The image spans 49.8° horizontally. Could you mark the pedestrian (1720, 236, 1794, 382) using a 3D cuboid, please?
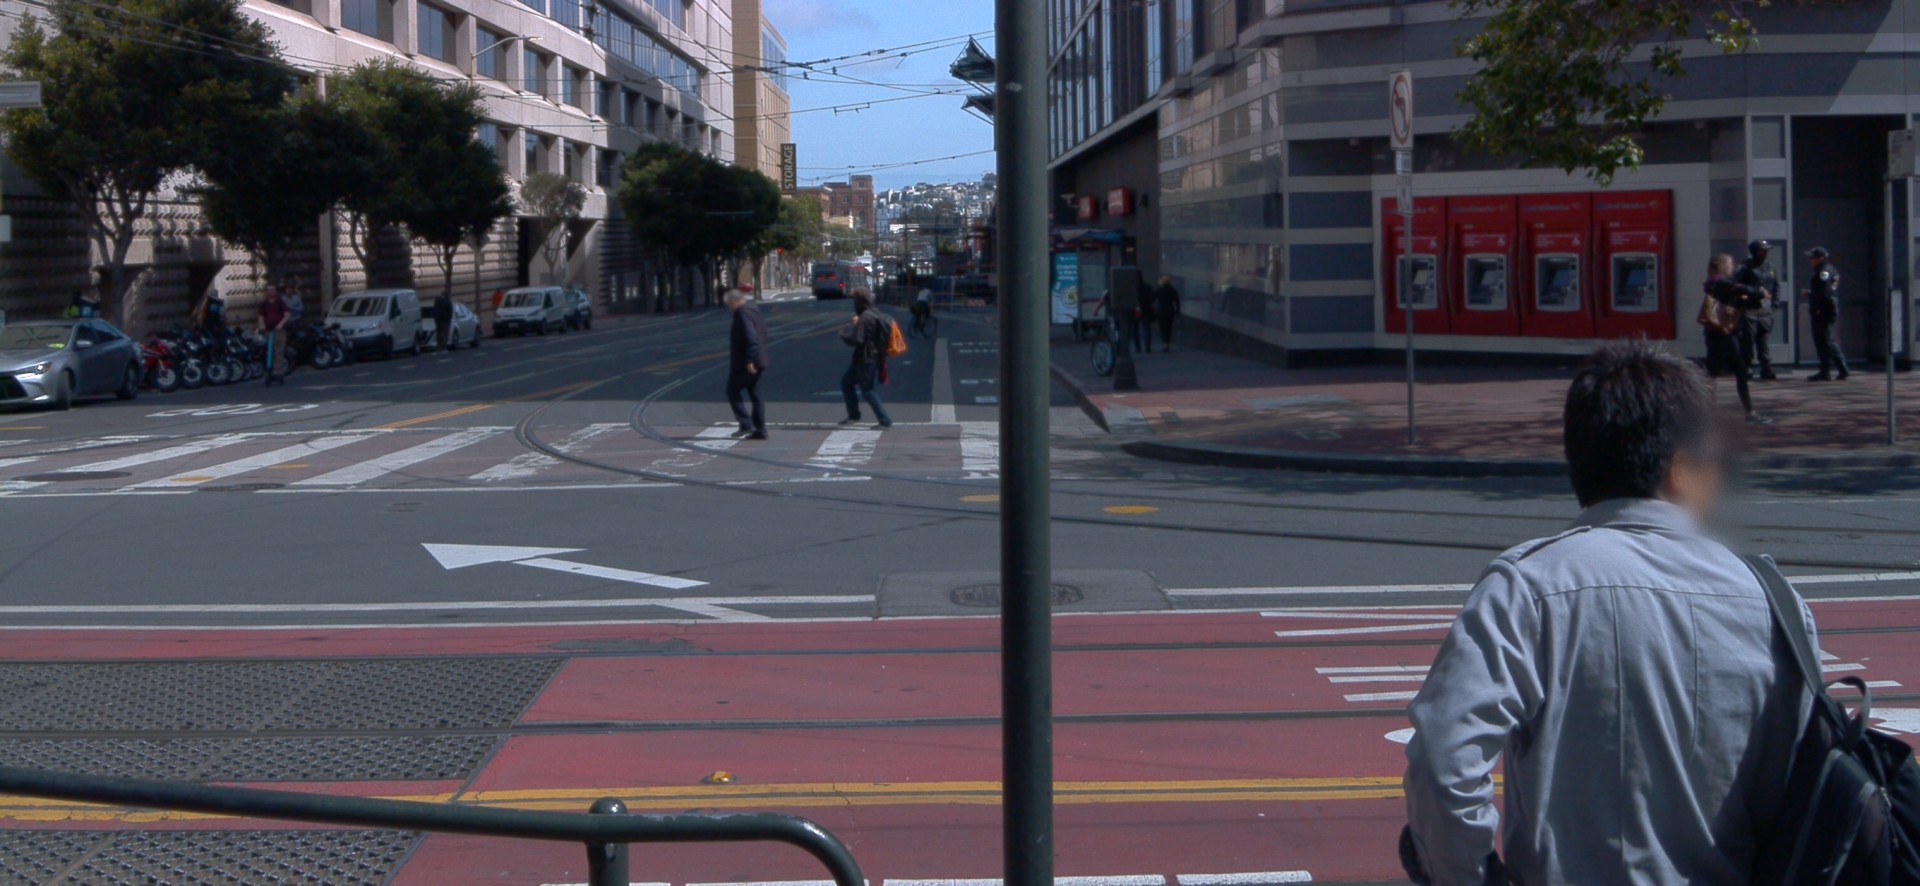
[{"bbox_3d":[9.856,-1.664,25.574,0.723,1.766,0.684,0,2,9],"label":"pedestrian"}]

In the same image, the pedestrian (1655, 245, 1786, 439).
[{"bbox_3d":[7.568,-1.028,20.613,1.137,1.866,0.847,0,2,13],"label":"pedestrian"}]

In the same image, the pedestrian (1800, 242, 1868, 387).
[{"bbox_3d":[10.555,-1.569,24.959,0.695,1.696,0.804,0,2,28],"label":"pedestrian"}]

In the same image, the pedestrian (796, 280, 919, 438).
[{"bbox_3d":[-1.199,-1.014,24.394,1.156,1.766,1.189,0,3,13],"label":"pedestrian"}]

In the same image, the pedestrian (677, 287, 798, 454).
[{"bbox_3d":[-2.445,-0.823,22.808,1.095,1.766,0.863,0,2,13],"label":"pedestrian"}]
